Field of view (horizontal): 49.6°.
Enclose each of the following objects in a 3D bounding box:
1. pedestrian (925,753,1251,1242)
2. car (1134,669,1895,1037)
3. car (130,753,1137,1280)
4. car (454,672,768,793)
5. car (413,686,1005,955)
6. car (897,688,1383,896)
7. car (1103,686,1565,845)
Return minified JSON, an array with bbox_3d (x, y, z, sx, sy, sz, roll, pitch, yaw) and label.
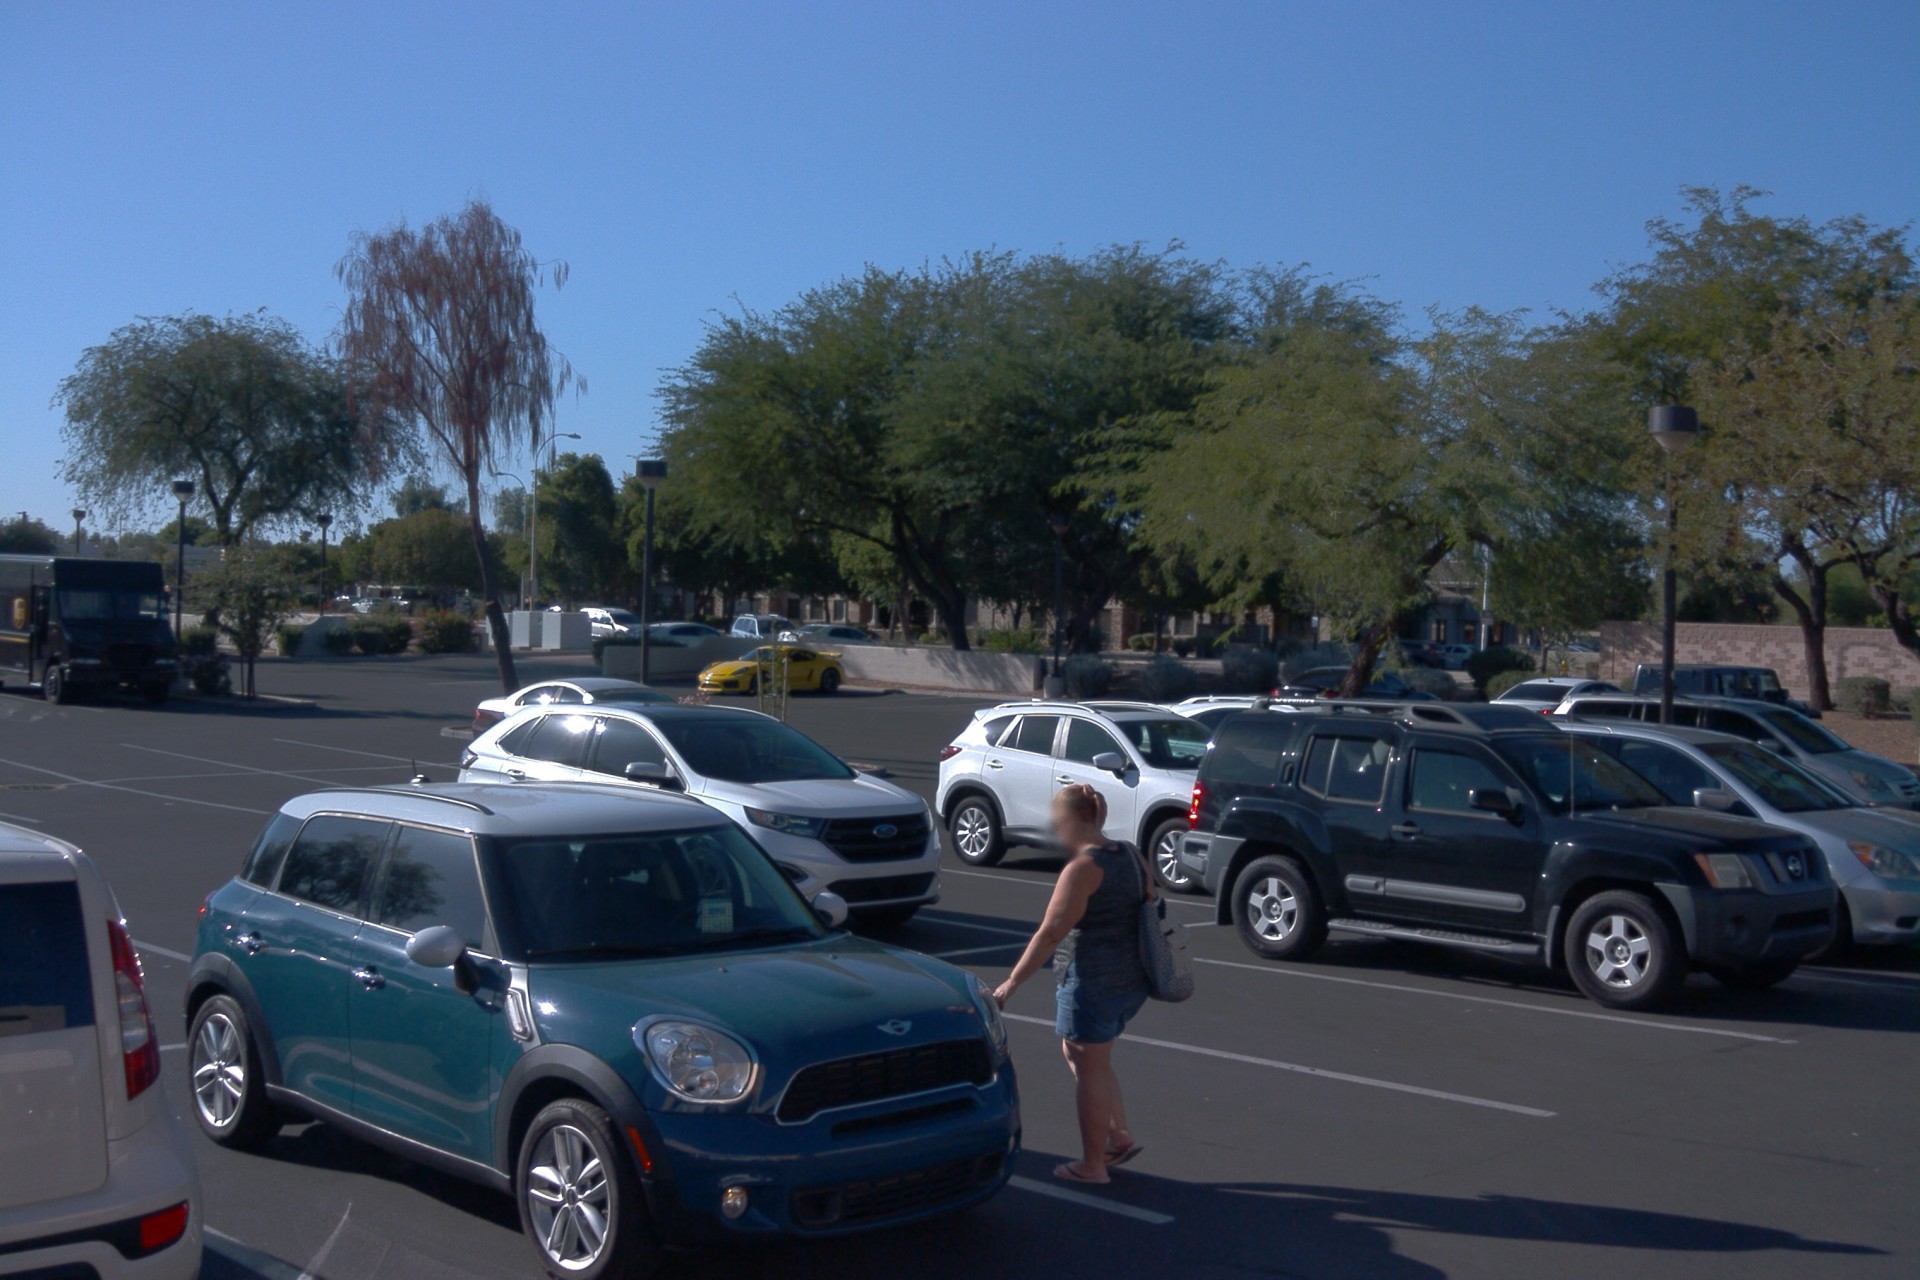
[{"bbox_3d":[0.528,1.368,8.391,0.959,1.750,0.930,1,0,33],"label":"pedestrian"},{"bbox_3d":[3.698,1.274,14.513,2.178,2.050,4.676,1,0,-43],"label":"car"},{"bbox_3d":[-1.473,1.371,8.269,2.003,1.600,3.979,1,0,-44],"label":"car"},{"bbox_3d":[-5.369,1.331,31.482,5.046,1.600,2.114,1,0,45],"label":"car"},{"bbox_3d":[-2.131,1.292,16.661,4.659,1.720,2.253,1,0,44],"label":"car"},{"bbox_3d":[1.692,1.392,20.607,2.160,1.720,4.434,1,0,-45],"label":"car"},{"bbox_3d":[4.026,1.296,22.925,2.057,1.460,4.663,1,0,-45],"label":"car"}]
